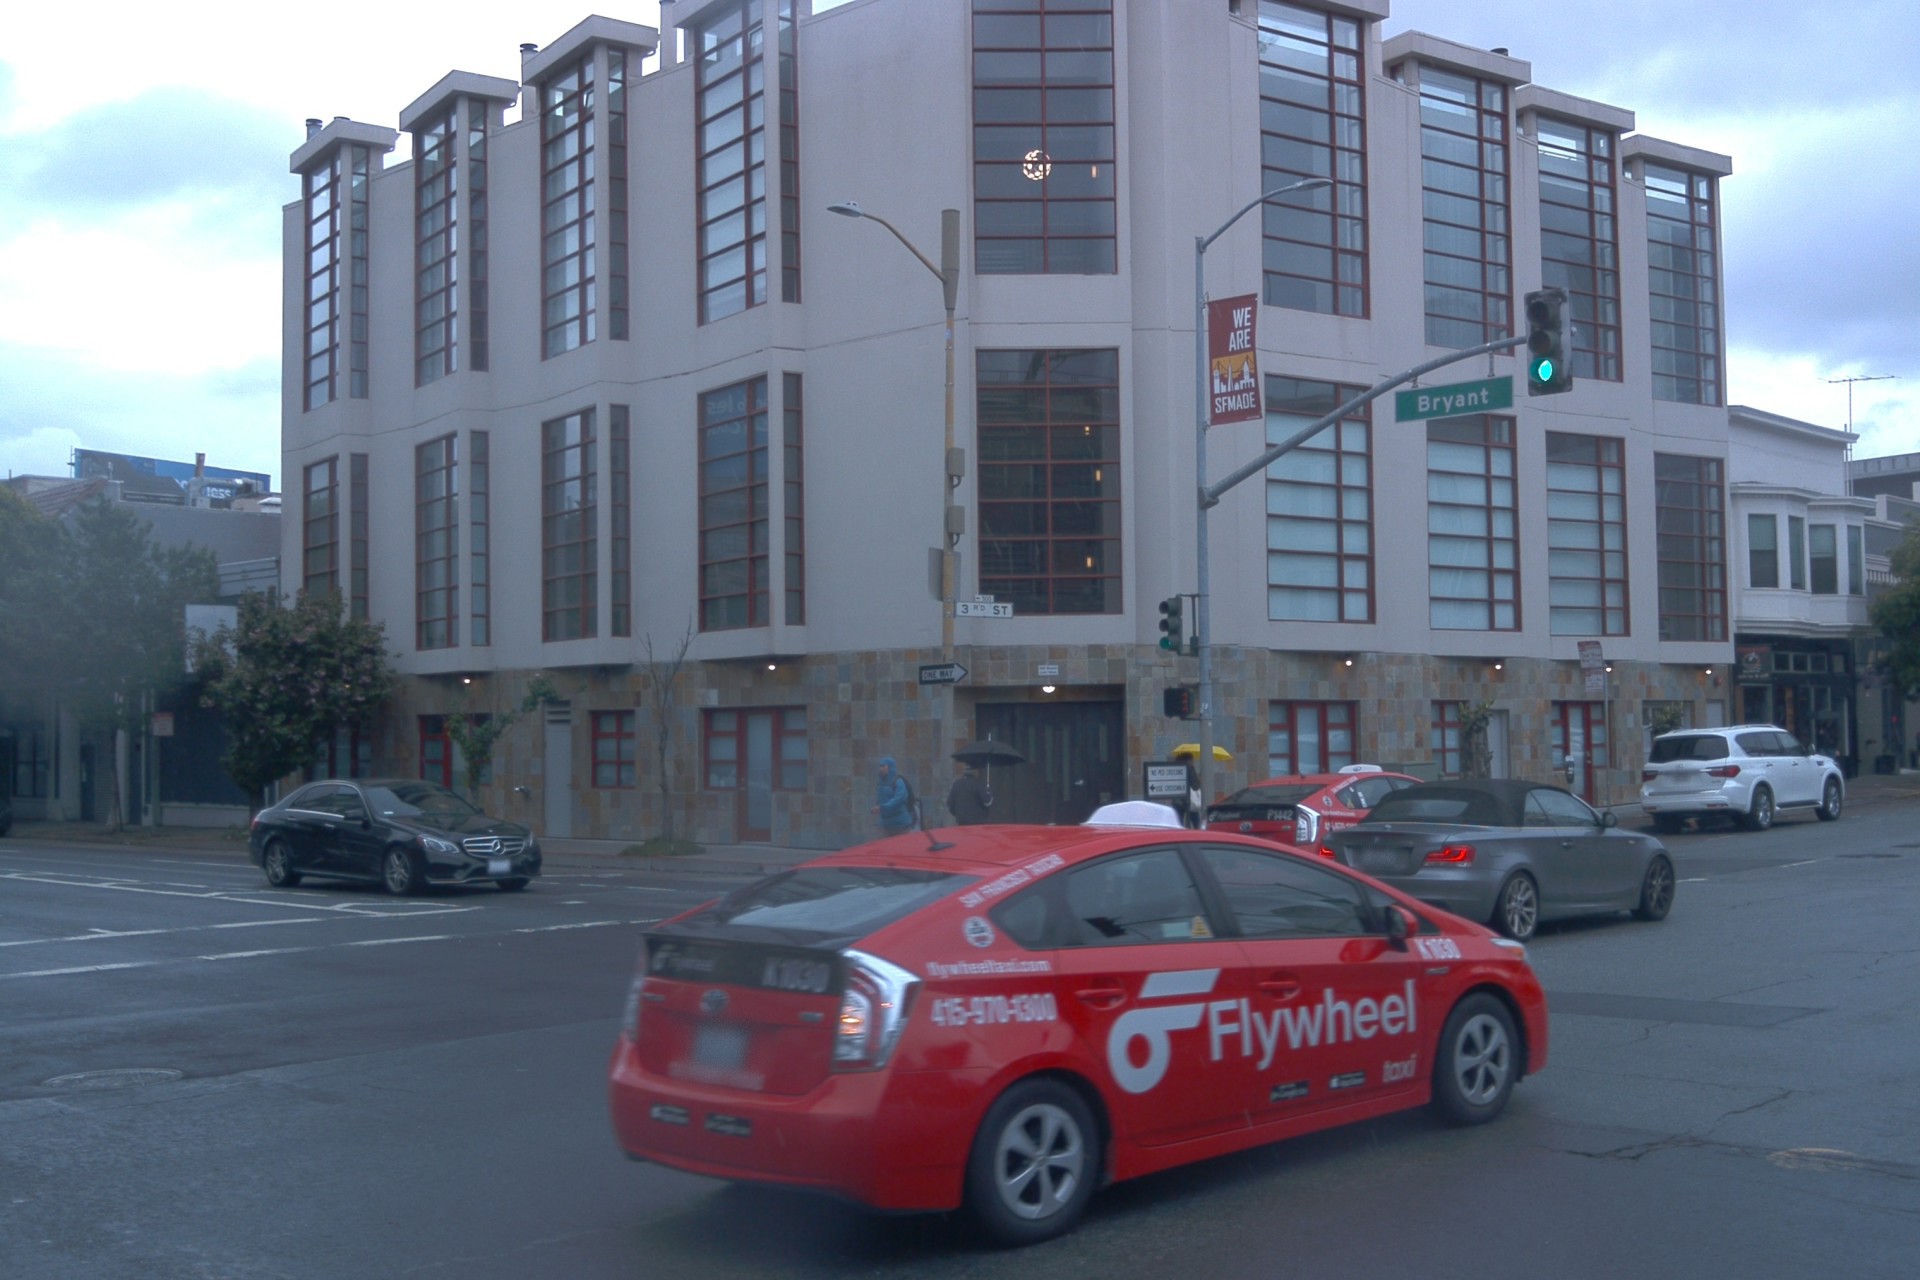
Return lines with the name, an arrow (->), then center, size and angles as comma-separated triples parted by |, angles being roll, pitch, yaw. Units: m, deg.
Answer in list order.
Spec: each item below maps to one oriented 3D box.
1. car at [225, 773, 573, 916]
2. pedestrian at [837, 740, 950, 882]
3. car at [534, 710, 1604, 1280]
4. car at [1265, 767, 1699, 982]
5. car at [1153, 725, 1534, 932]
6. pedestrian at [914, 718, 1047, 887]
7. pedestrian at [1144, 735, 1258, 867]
car -> -7.440, 2.606, 27.327 | 4.852, 1.410, 2.145 | 0, 0, 43
pedestrian -> -0.907, 2.310, 28.392 | 1.235, 1.810, 0.924 | 0, 0, -44
car -> 0.689, 1.327, 9.082 | 4.601, 1.890, 2.045 | 0, 0, -43
car -> 4.885, 2.031, 19.063 | 1.937, 1.460, 4.452 | 0, 0, 43
car -> 4.419, 2.012, 23.500 | 2.056, 1.920, 4.590 | 0, 0, 44
pedestrian -> 0.278, 2.123, 27.626 | 1.228, 2.110, 1.341 | 0, 0, 34
pedestrian -> 3.660, 2.413, 31.537 | 1.137, 1.860, 1.362 | 0, 0, 42
